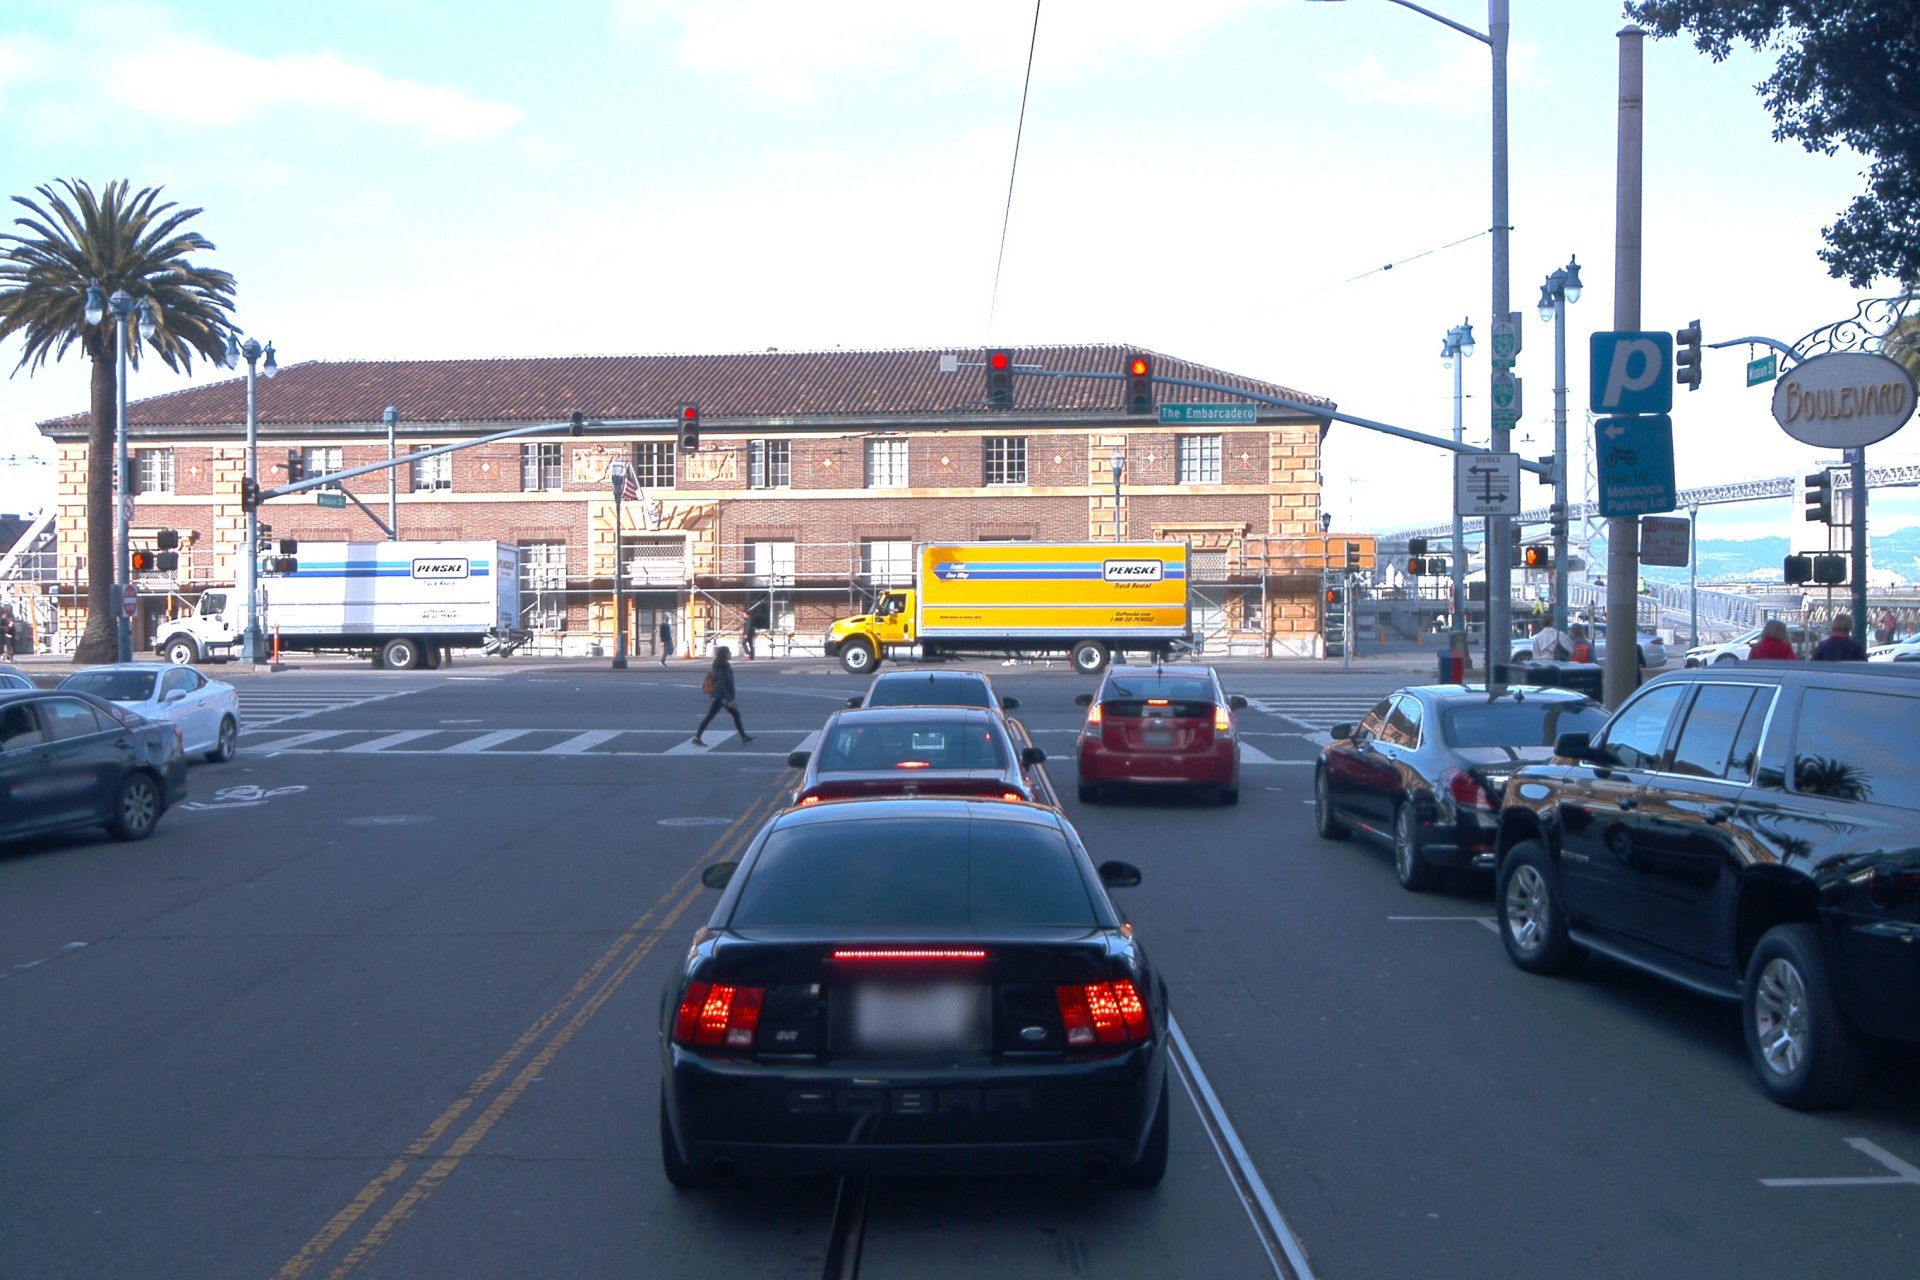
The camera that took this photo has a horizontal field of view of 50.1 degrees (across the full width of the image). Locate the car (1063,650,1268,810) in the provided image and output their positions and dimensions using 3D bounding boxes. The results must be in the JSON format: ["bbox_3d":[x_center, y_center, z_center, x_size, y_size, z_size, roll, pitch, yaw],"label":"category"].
[{"bbox_3d":[2.309,0.937,23.473,2.102,1.570,4.550,0,1,5],"label":"car"}]

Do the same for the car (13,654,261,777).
[{"bbox_3d":[-10.675,0.939,26.930,1.723,1.430,3.630,0,1,2],"label":"car"}]

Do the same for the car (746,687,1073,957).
[{"bbox_3d":[-0.319,1.181,14.902,2.032,1.533,4.187,0,1,0],"label":"car"}]

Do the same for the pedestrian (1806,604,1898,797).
[{"bbox_3d":[8.948,0.582,20.609,0.733,1.890,0.806,0,1,32],"label":"pedestrian"}]

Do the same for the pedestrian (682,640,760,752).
[{"bbox_3d":[-3.515,0.816,30.283,1.071,1.621,0.775,0,1,-2],"label":"pedestrian"}]

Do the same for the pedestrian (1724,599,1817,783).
[{"bbox_3d":[8.260,0.497,20.935,0.733,1.828,0.806,0,1,33],"label":"pedestrian"}]

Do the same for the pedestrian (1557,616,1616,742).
[{"bbox_3d":[9.439,0.580,31.002,0.667,1.870,0.754,0,1,1],"label":"pedestrian"}]

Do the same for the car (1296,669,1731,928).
[{"bbox_3d":[4.227,1.125,16.719,2.062,1.630,5.189,0,1,-1],"label":"car"}]

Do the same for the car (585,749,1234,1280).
[{"bbox_3d":[-0.158,1.311,8.383,2.005,1.463,4.021,0,1,0],"label":"car"}]

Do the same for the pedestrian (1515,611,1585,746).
[{"bbox_3d":[8.757,0.559,30.554,0.837,1.970,0.922,0,1,6],"label":"pedestrian"}]
